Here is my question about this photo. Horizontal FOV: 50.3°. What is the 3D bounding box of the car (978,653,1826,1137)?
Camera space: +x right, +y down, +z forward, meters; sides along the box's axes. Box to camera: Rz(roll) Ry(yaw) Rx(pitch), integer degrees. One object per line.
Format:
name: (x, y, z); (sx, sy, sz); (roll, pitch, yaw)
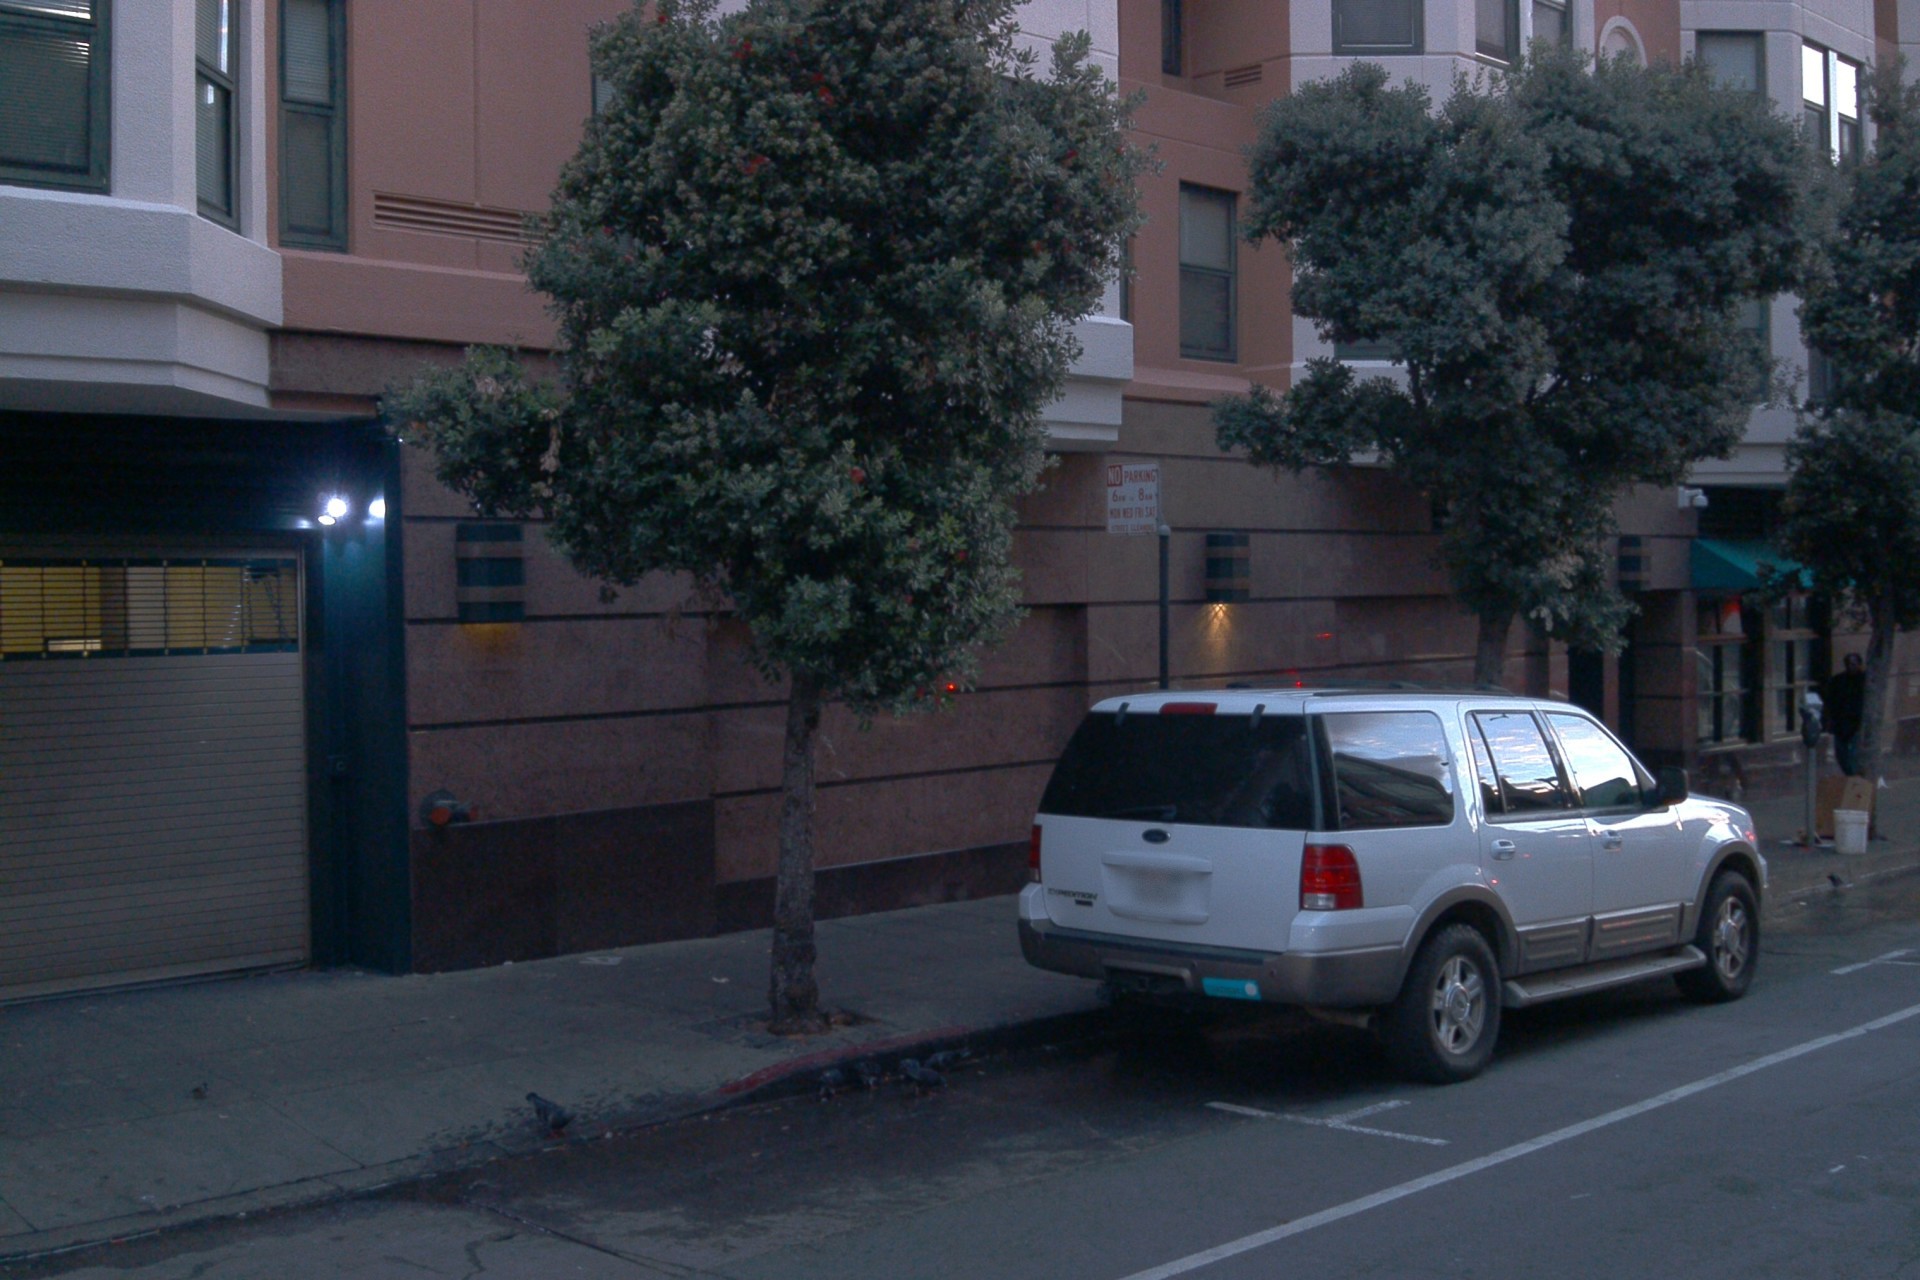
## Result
car: (2.666, 1.113, 11.382); (2.194, 1.990, 5.086); (1, 1, 45)

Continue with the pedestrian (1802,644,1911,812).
pedestrian: (10.336, 0.985, 23.594); (0.828, 1.860, 1.059); (1, 1, 43)
